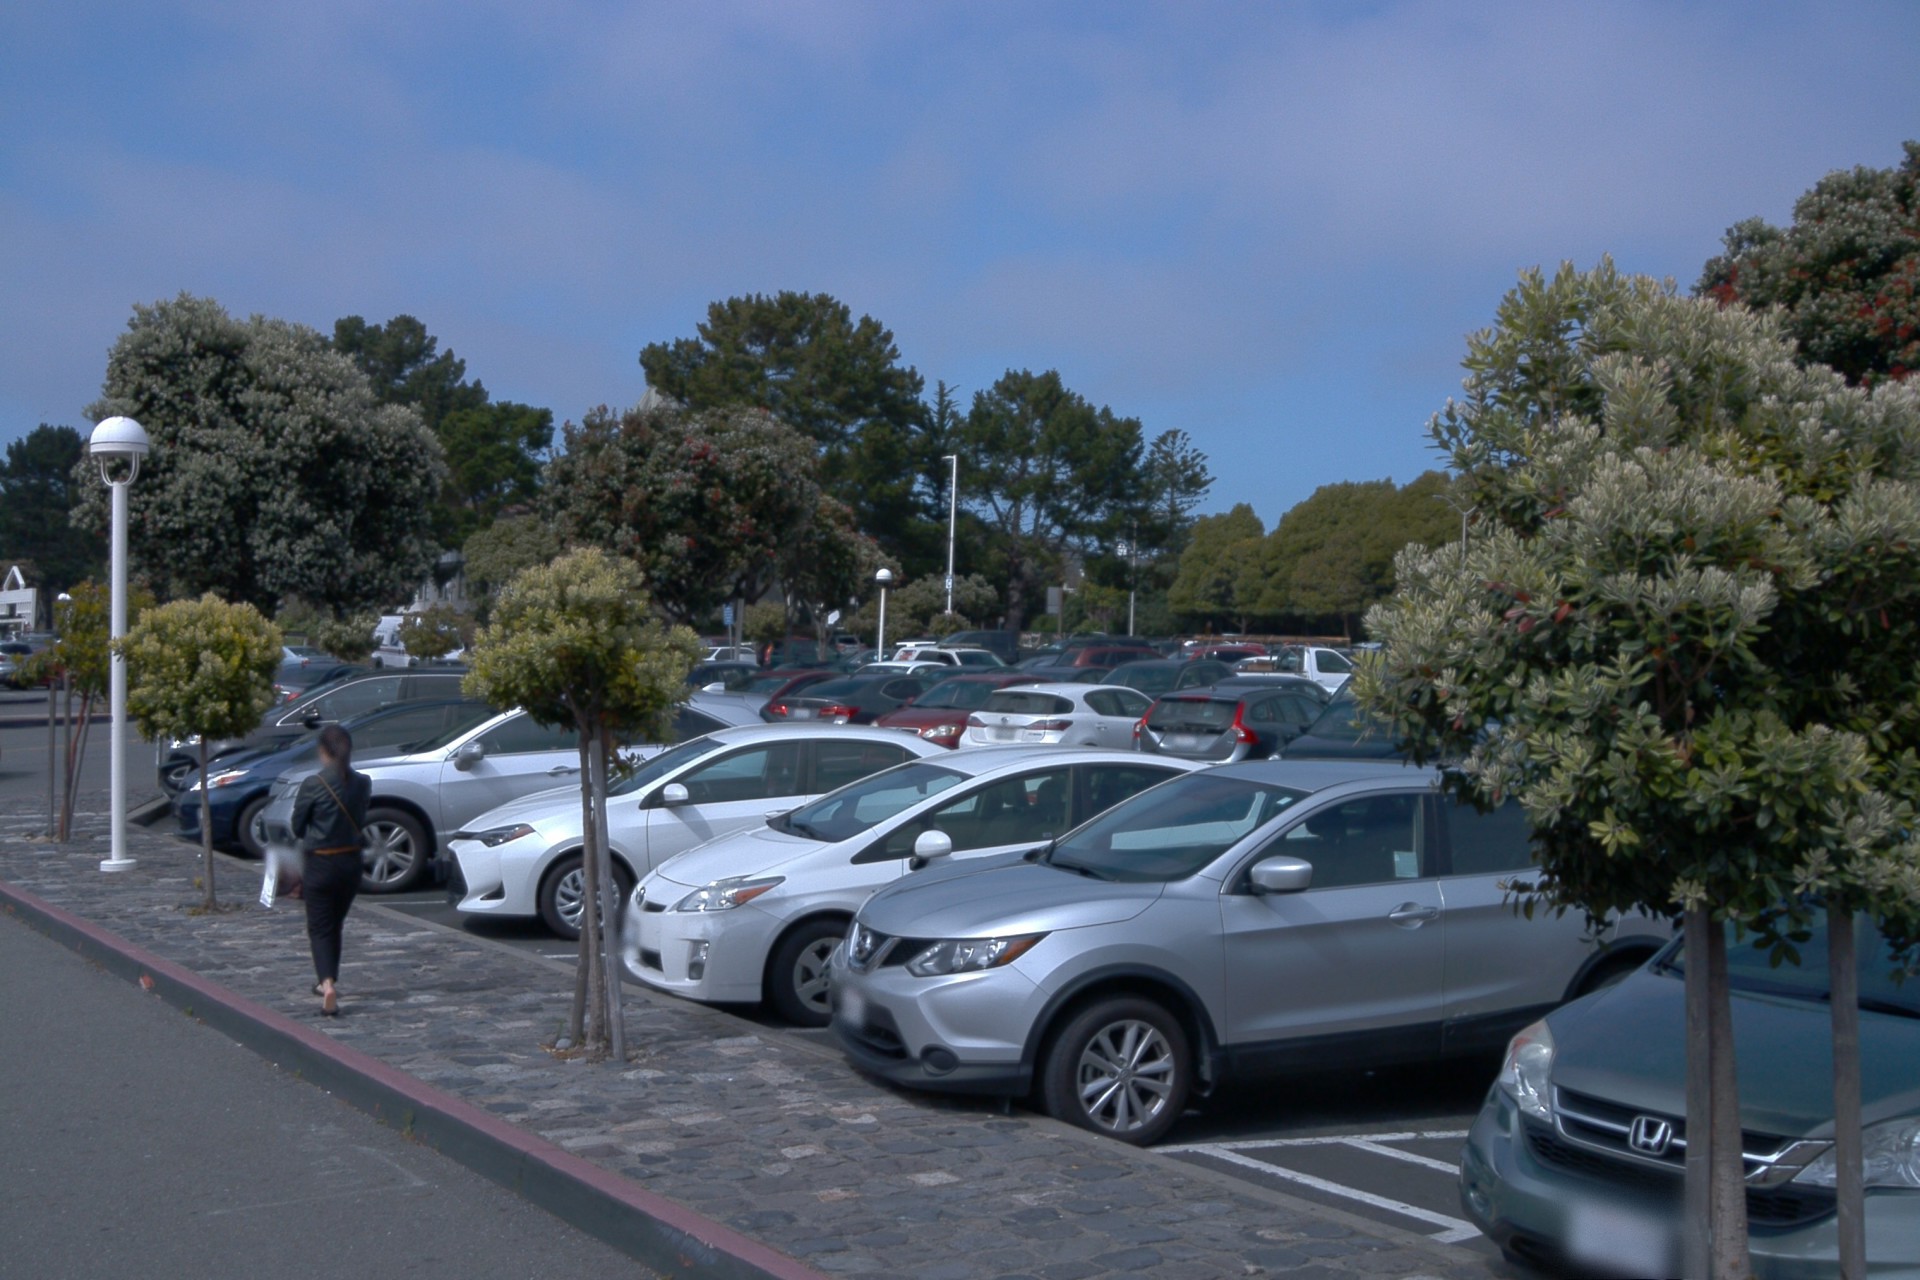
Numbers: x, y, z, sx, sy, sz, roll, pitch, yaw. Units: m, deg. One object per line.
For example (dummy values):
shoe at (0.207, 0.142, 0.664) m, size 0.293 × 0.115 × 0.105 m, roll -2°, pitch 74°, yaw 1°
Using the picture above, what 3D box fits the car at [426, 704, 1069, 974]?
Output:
car at (-1.650, 1.389, 15.416) m, size 4.472 × 1.670 × 2.056 m, roll 0°, pitch 0°, yaw -16°

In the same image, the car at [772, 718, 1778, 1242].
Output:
car at (1.462, 1.413, 9.878) m, size 4.283 × 1.900 × 2.088 m, roll 0°, pitch 0°, yaw -21°

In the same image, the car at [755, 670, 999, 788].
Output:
car at (-1.251, 1.351, 32.588) m, size 1.780 × 1.640 × 3.949 m, roll 0°, pitch 1°, yaw 36°

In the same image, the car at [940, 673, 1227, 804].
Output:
car at (1.769, 1.294, 28.376) m, size 2.031 × 1.550 × 4.040 m, roll 0°, pitch 1°, yaw 38°

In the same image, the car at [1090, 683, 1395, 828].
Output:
car at (3.724, 1.404, 26.498) m, size 2.125 × 1.550 × 4.303 m, roll 0°, pitch 1°, yaw 36°

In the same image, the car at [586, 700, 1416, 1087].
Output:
car at (0.235, 1.371, 12.527) m, size 4.588 × 1.860 × 2.075 m, roll 0°, pitch 0°, yaw -23°

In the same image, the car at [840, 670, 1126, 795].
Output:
car at (0.418, 1.315, 30.746) m, size 1.968 × 1.600 × 4.455 m, roll 0°, pitch 1°, yaw 38°

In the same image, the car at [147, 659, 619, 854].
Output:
car at (-6.331, 1.209, 22.778) m, size 4.821 × 1.930 × 2.004 m, roll 0°, pitch 0°, yaw -16°

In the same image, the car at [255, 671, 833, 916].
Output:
car at (-3.565, 1.228, 17.680) m, size 4.606 × 1.830 × 2.017 m, roll 0°, pitch 0°, yaw -15°

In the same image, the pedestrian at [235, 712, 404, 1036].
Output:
pedestrian at (-3.341, 1.180, 10.711) m, size 0.626 × 1.570 × 0.743 m, roll 0°, pitch 0°, yaw -36°

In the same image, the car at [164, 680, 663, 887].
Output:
car at (-5.235, 1.311, 19.867) m, size 4.431 × 1.740 × 1.969 m, roll 0°, pitch 0°, yaw -16°
